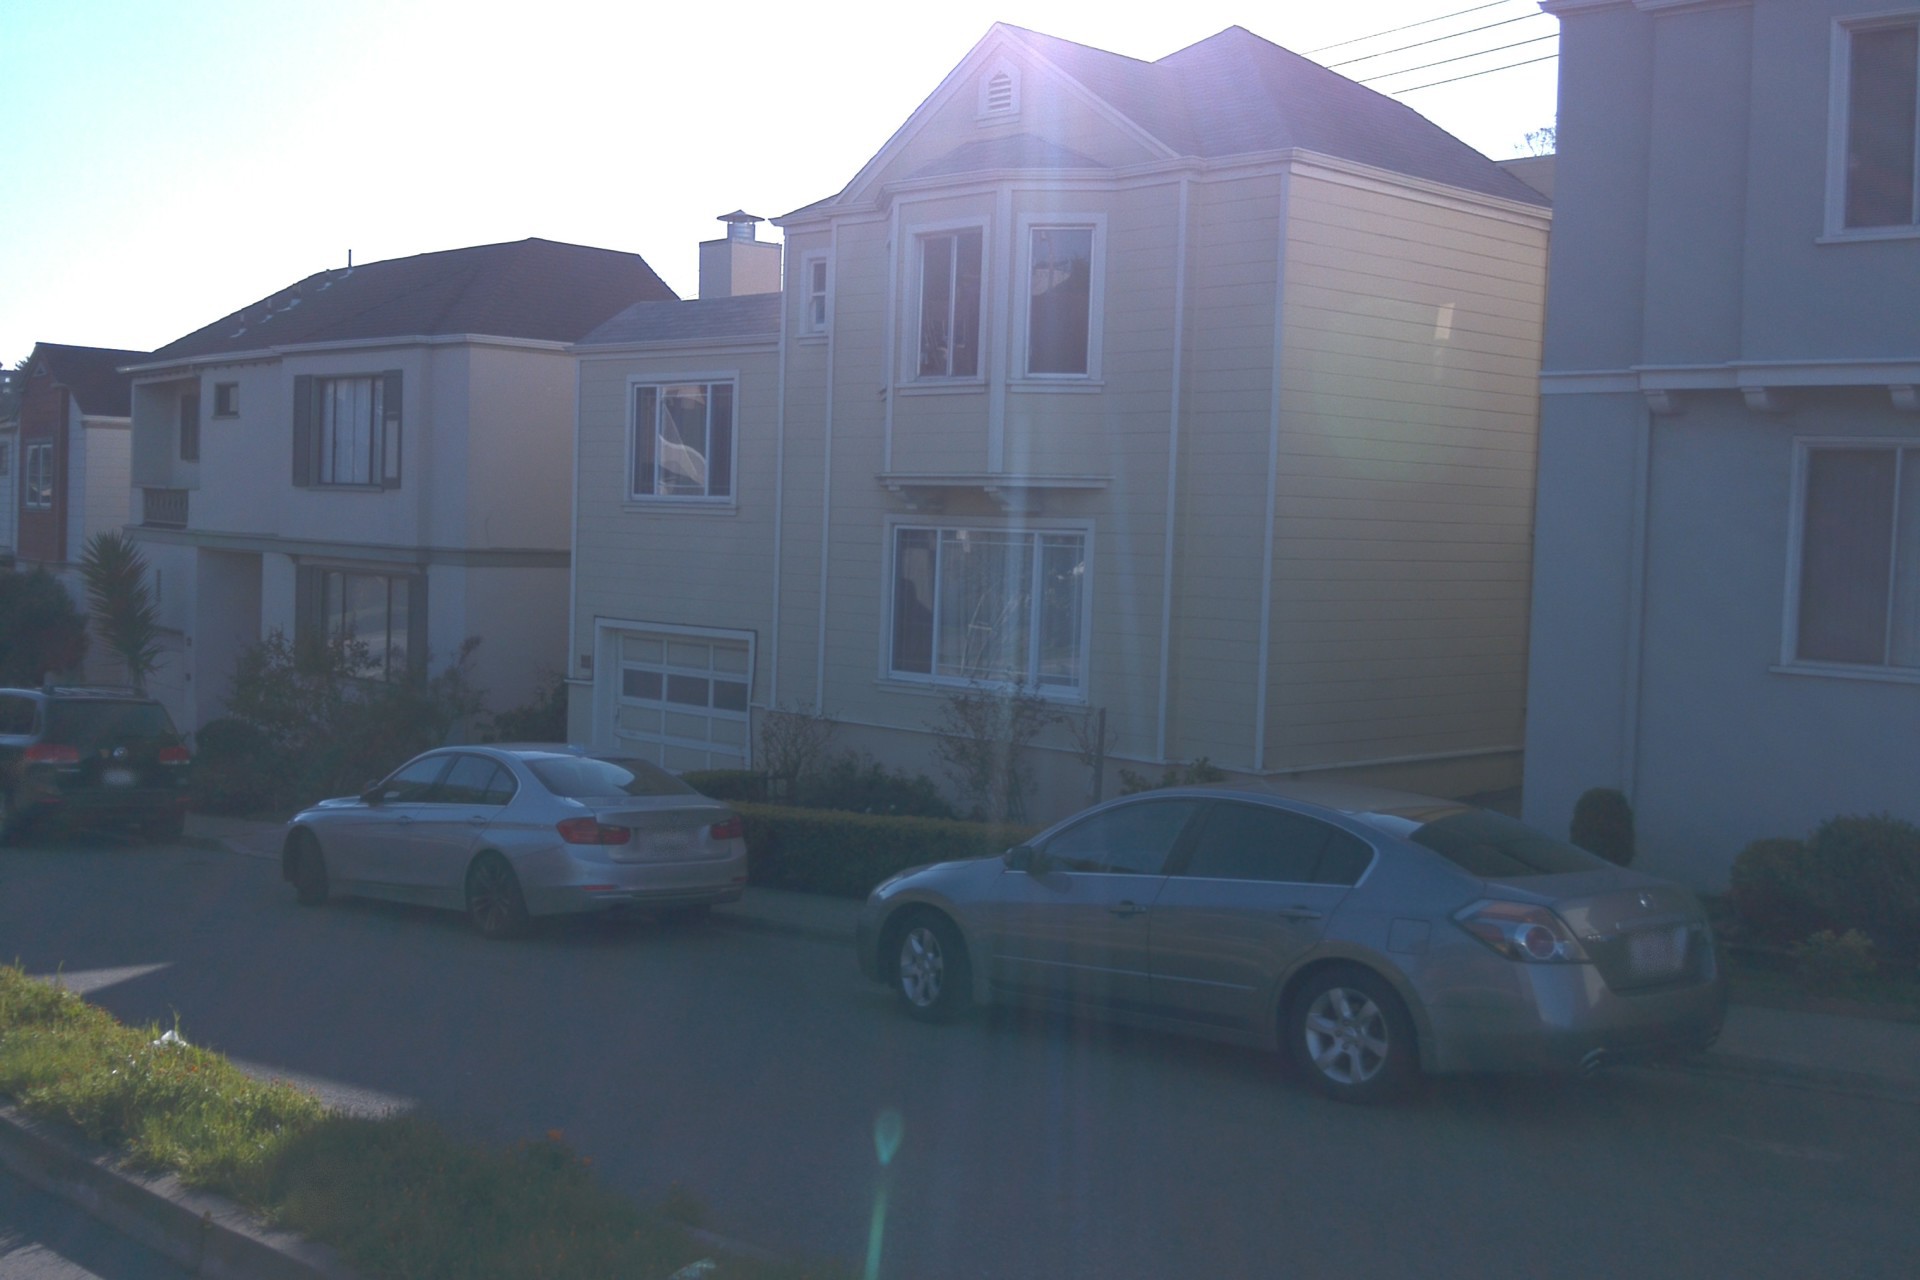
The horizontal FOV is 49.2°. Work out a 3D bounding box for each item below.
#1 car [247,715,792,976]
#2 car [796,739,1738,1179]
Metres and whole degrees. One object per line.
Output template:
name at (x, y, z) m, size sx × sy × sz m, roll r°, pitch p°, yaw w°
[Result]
car at (-3.632, 1.491, 16.713) m, size 2.062 × 1.620 × 4.623 m, roll 1°, pitch 0°, yaw -45°
car at (1.451, 1.480, 11.396) m, size 2.097 × 1.654 × 4.760 m, roll 1°, pitch 0°, yaw -44°
